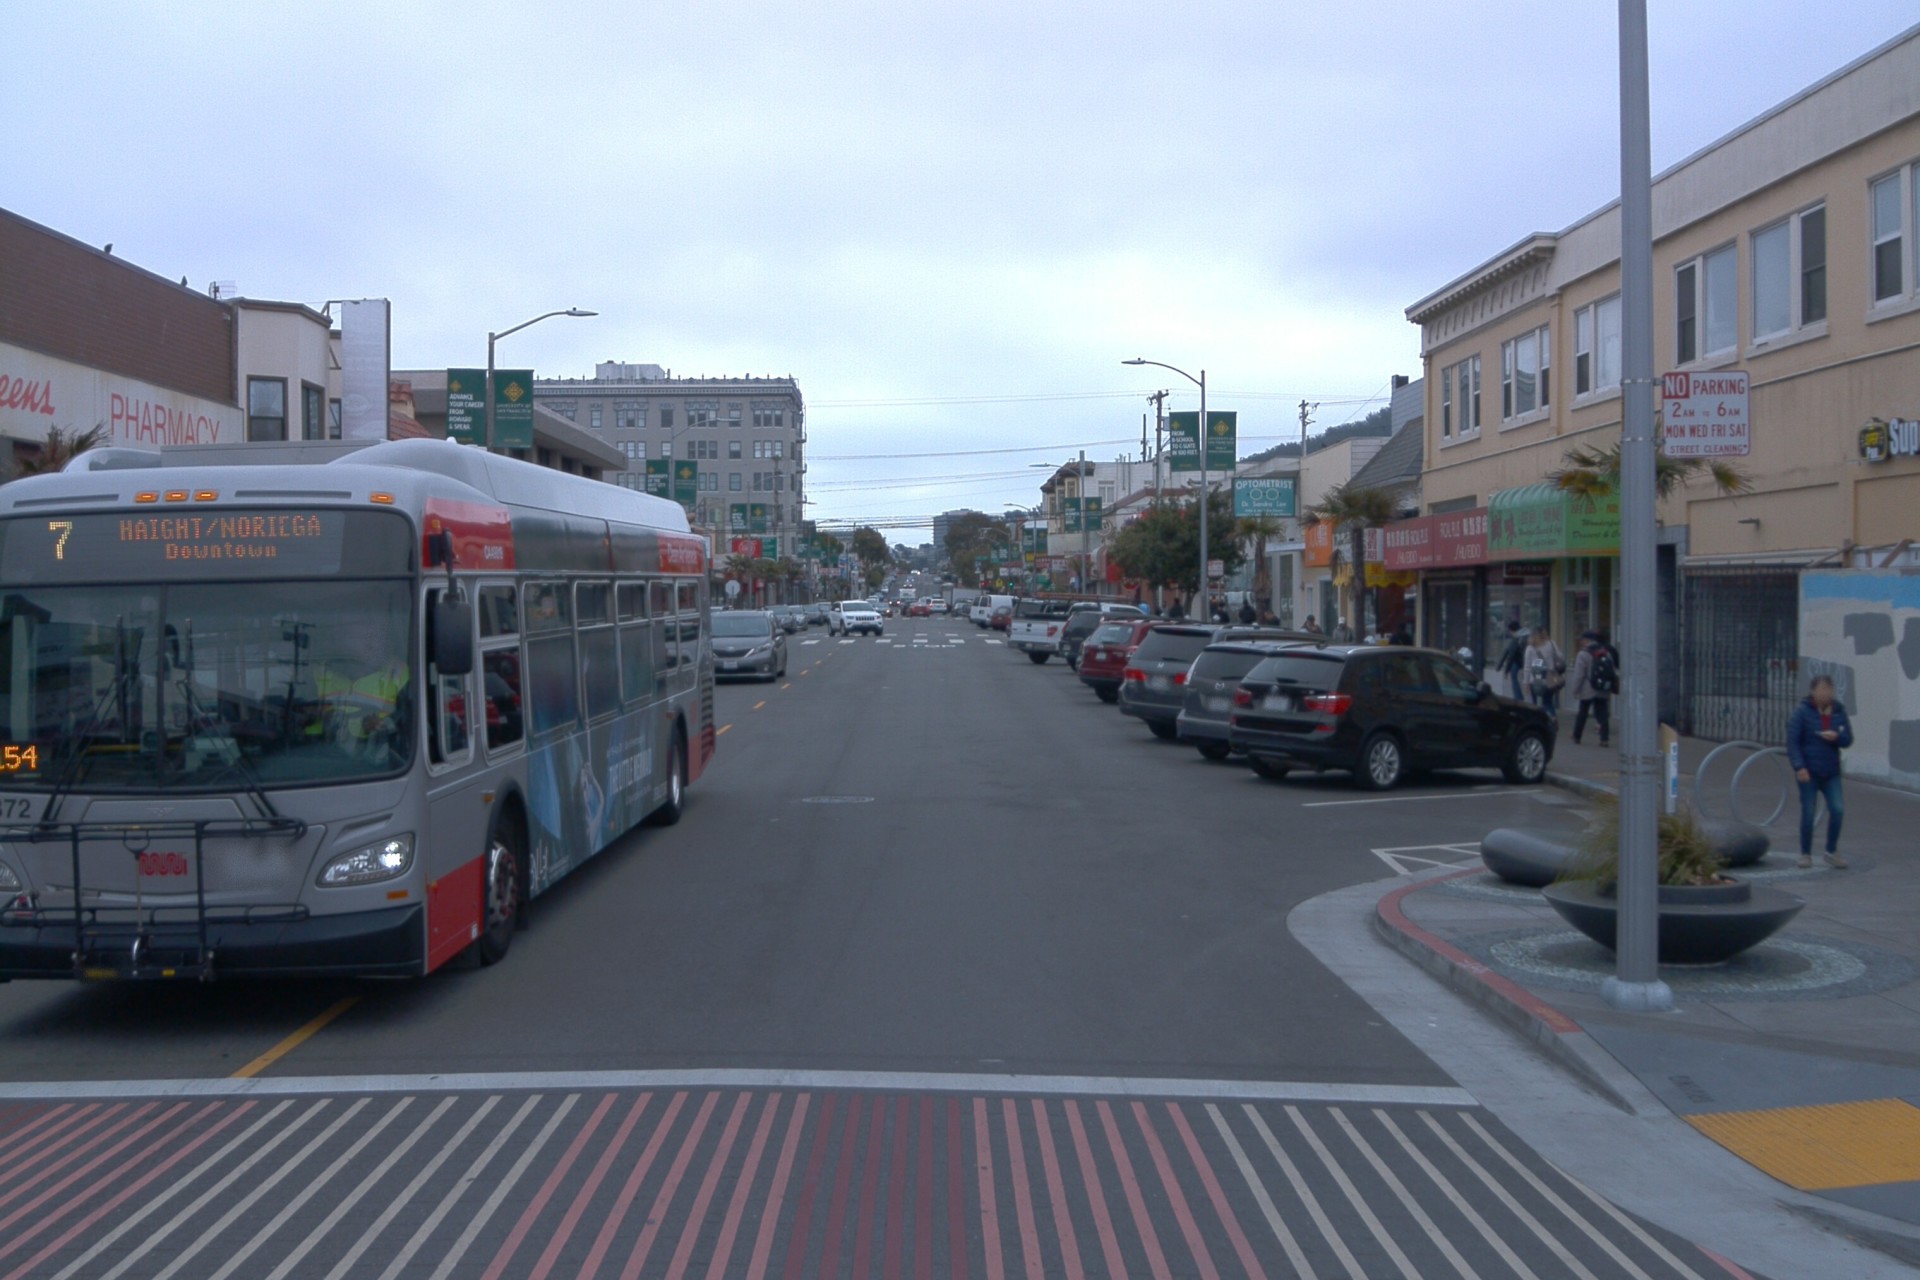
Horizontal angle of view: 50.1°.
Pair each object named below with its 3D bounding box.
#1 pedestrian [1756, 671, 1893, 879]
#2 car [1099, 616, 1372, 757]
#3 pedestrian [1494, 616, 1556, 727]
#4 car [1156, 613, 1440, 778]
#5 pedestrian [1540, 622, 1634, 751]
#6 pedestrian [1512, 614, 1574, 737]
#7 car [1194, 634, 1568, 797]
[{"bbox_3d":[6.879,1.057,16.392,0.747,1.598,0.778,0,1,-1],"label":"pedestrian"},{"bbox_3d":[4.146,0.629,30.668,3.847,1.931,1.922,-1,1,-40],"label":"car"},{"bbox_3d":[9.090,0.492,33.122,0.687,1.751,0.815,0,1,-9],"label":"pedestrian"},{"bbox_3d":[4.541,0.667,27.407,3.671,2.040,1.761,-1,1,-40],"label":"car"},{"bbox_3d":[8.827,0.642,28.970,0.922,1.770,0.951,0,1,-10],"label":"pedestrian"},{"bbox_3d":[8.816,0.520,31.114,0.711,1.824,0.915,0,1,3],"label":"pedestrian"},{"bbox_3d":[5.175,0.833,25.012,4.510,1.740,2.044,-1,1,-39],"label":"car"}]
